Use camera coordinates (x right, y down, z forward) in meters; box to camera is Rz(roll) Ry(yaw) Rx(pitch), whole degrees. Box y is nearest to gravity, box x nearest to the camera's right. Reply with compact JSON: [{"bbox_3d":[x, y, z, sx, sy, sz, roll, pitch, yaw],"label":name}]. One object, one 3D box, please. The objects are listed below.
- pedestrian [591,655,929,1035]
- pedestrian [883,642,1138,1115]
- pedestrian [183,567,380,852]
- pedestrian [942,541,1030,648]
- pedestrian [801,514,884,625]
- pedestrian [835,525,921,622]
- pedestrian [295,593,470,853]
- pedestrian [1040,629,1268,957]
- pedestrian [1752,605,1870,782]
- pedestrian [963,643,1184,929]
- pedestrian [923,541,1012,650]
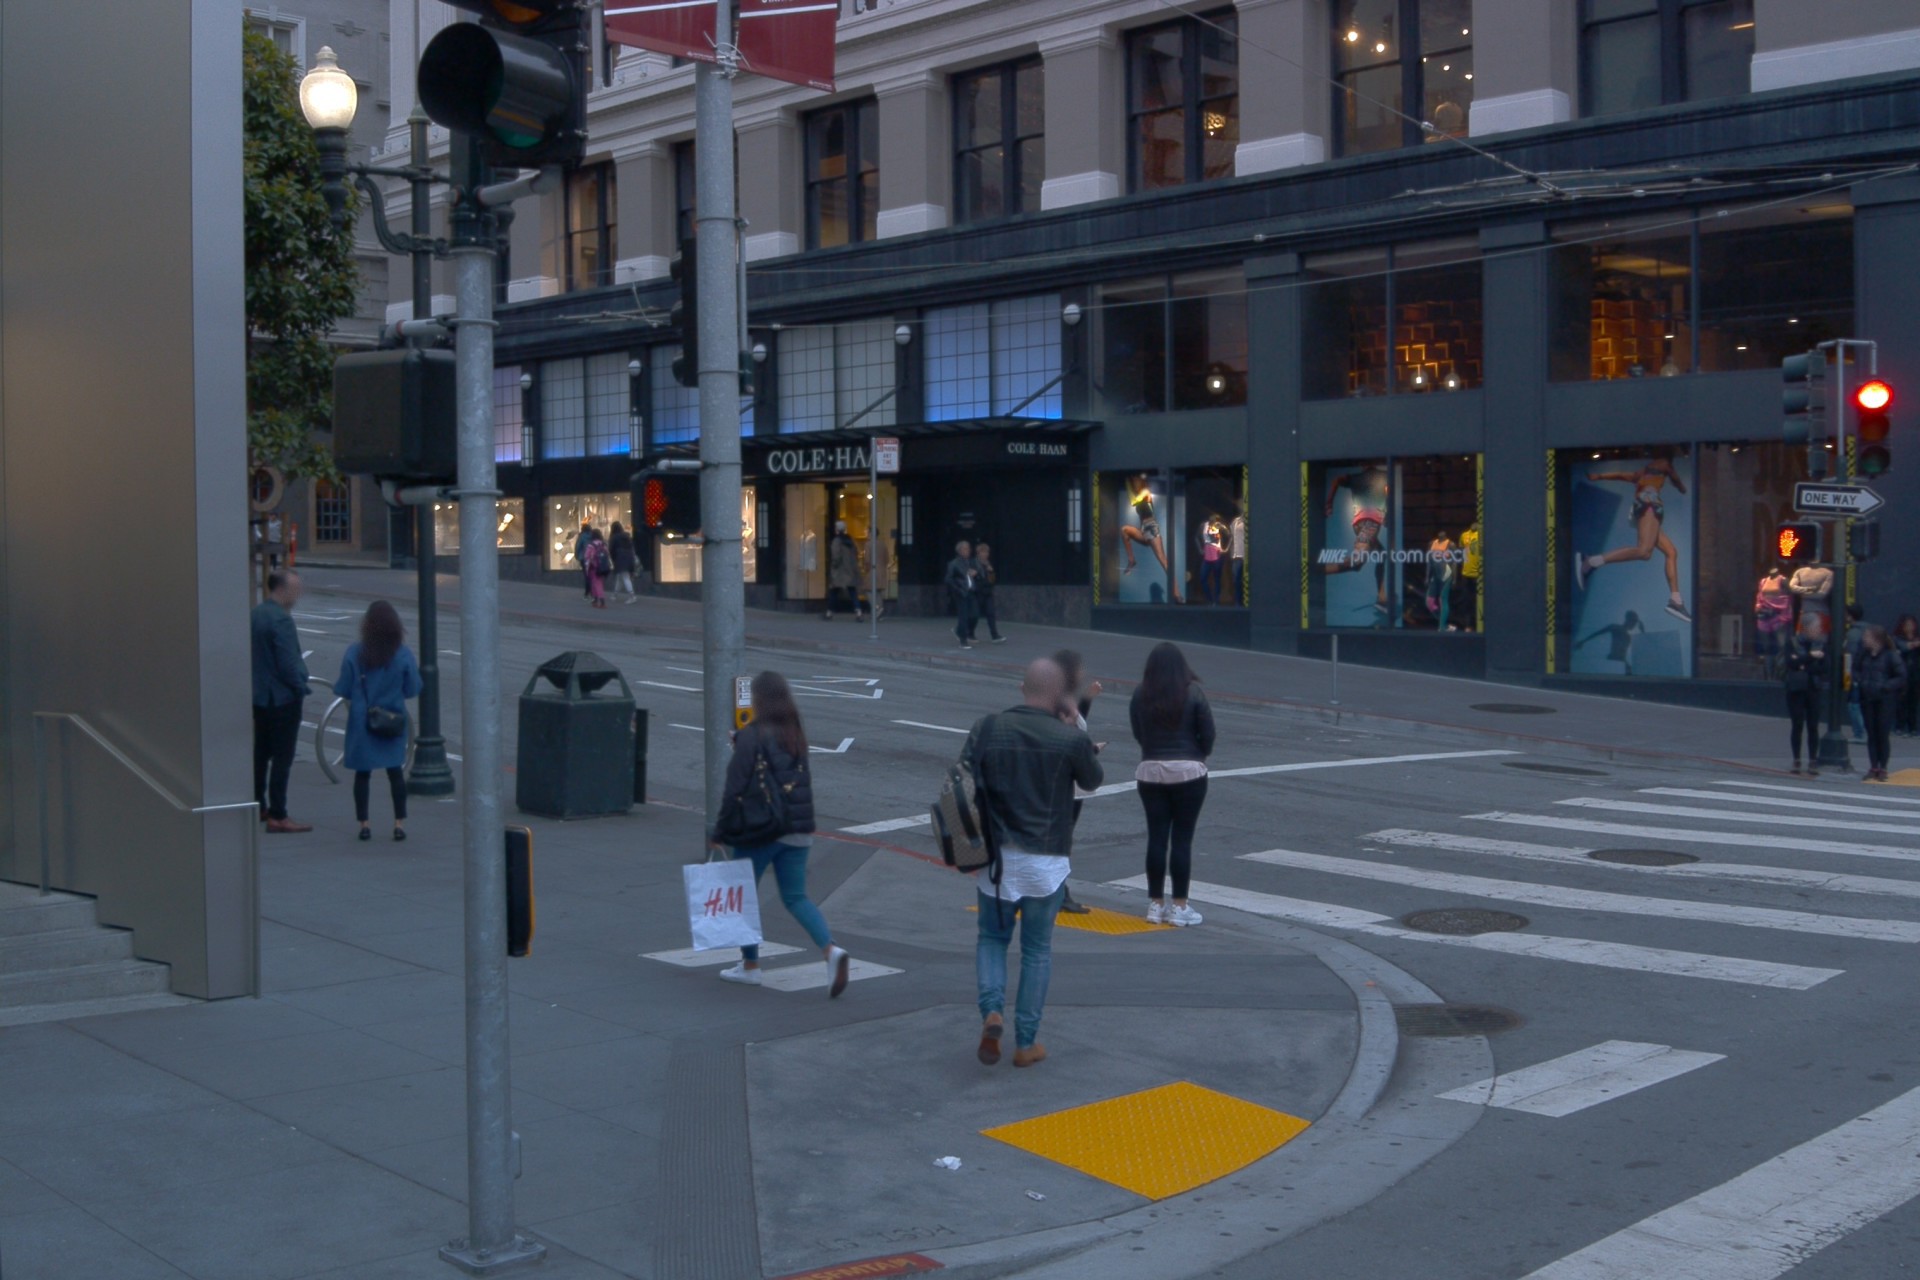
[{"bbox_3d":[-0.955,0.909,9.834,1.098,1.640,1.174,1,1,42],"label":"pedestrian"},{"bbox_3d":[0.242,0.932,8.612,0.927,1.820,1.126,0,1,9],"label":"pedestrian"},{"bbox_3d":[-4.870,0.466,14.719,0.981,1.960,0.939,1,1,35],"label":"pedestrian"},{"bbox_3d":[0.407,-0.708,32.350,0.891,1.650,1.047,-1,1,-44],"label":"pedestrian"},{"bbox_3d":[-2.079,-1.234,36.335,1.104,1.920,0.963,1,1,42],"label":"pedestrian"},{"bbox_3d":[-1.463,-1.172,36.596,1.109,1.700,1.053,1,1,40],"label":"pedestrian"},{"bbox_3d":[-4.053,0.552,14.376,0.951,1.750,0.801,0,1,-37],"label":"pedestrian"},{"bbox_3d":[1.182,0.885,12.505,1.113,1.890,0.813,0,1,-32],"label":"pedestrian"},{"bbox_3d":[8.945,0.535,21.528,0.895,1.800,1.088,1,1,36],"label":"pedestrian"},{"bbox_3d":[0.717,0.886,13.095,1.003,1.710,0.998,0,1,-34],"label":"pedestrian"},{"bbox_3d":[0.114,-0.684,31.758,0.891,1.650,1.047,-1,1,-44],"label":"pedestrian"}]
